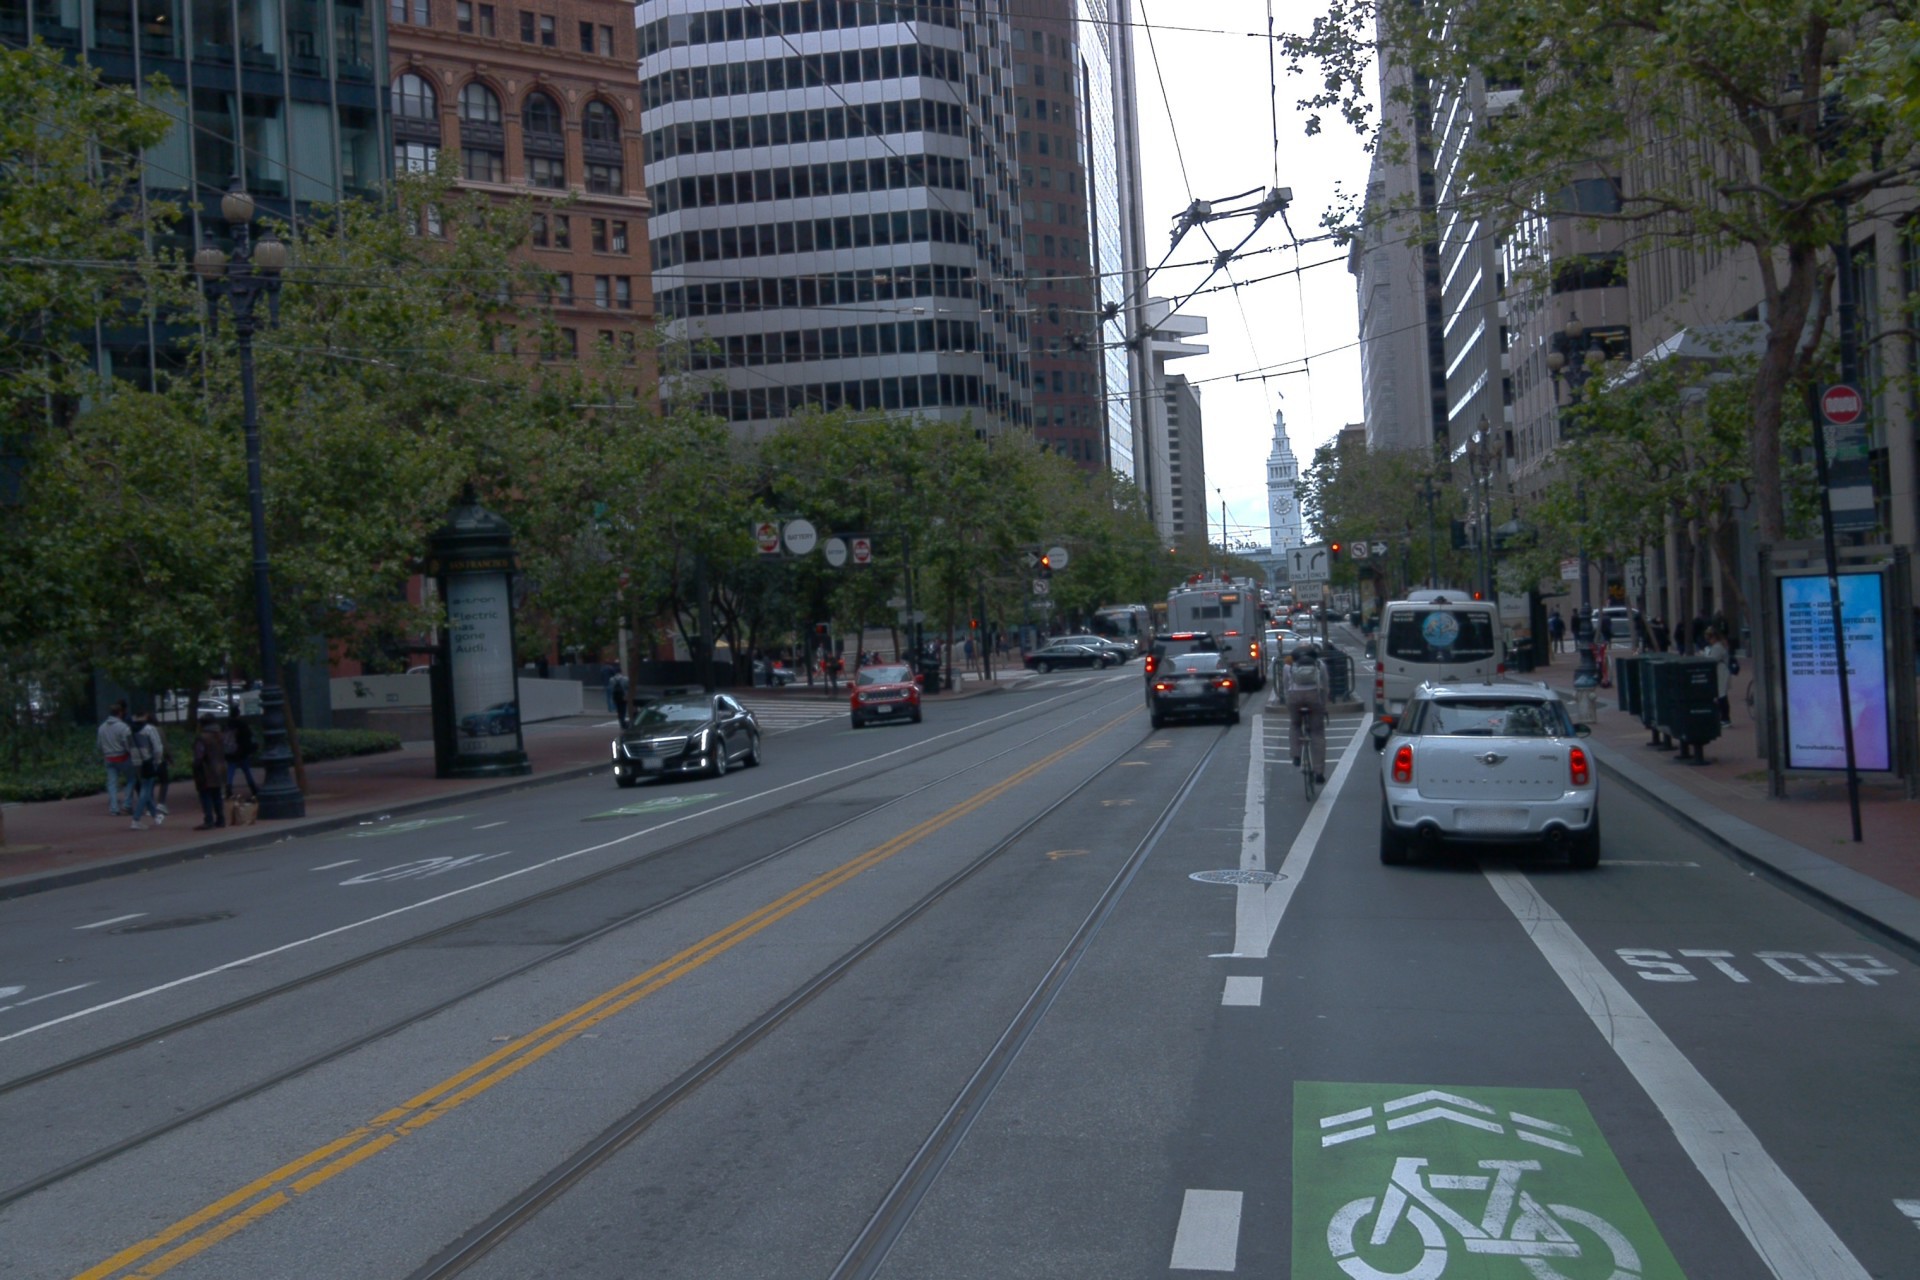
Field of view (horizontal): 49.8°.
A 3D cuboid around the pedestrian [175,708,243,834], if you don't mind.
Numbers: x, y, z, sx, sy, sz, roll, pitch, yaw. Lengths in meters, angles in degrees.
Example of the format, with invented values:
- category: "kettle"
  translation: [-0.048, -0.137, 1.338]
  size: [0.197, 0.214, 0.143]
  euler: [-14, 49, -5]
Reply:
- category: "pedestrian"
  translation: [-10.846, 1.886, 29.858]
  size: [0.641, 1.760, 0.791]
  euler: [0, 1, 4]

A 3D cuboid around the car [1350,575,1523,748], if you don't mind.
- category: "car"
  translation: [7.766, 0.301, 33.750]
  size: [2.537, 2.590, 5.346]
  euler: [0, 1, 13]

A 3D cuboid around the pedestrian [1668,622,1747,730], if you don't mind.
- category: "pedestrian"
  translation: [11.931, 0.566, 33.000]
  size: [0.915, 1.700, 0.906]
  euler: [0, 1, 0]

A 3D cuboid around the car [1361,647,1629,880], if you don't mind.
- category: "car"
  translation: [4.679, 0.993, 18.453]
  size: [2.076, 1.784, 3.875]
  euler: [0, 1, 12]

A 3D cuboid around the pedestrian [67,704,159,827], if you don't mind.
- category: "pedestrian"
  translation: [-13.587, 2.000, 33.167]
  size: [0.890, 1.880, 1.183]
  euler: [0, 1, 7]

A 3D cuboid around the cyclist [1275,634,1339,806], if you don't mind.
- category: "cyclist"
  translation: [4.010, 0.893, 23.833]
  size: [0.638, 1.900, 1.438]
  euler: [0, 1, 13]

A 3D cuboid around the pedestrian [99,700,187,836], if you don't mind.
- category: "pedestrian"
  translation: [-12.029, 1.866, 30.450]
  size: [0.746, 1.920, 1.119]
  euler: [0, 1, 8]

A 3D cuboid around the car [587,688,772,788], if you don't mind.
- category: "car"
  translation: [-4.903, 1.688, 36.868]
  size: [2.065, 1.500, 4.974]
  euler: [0, 1, 7]
